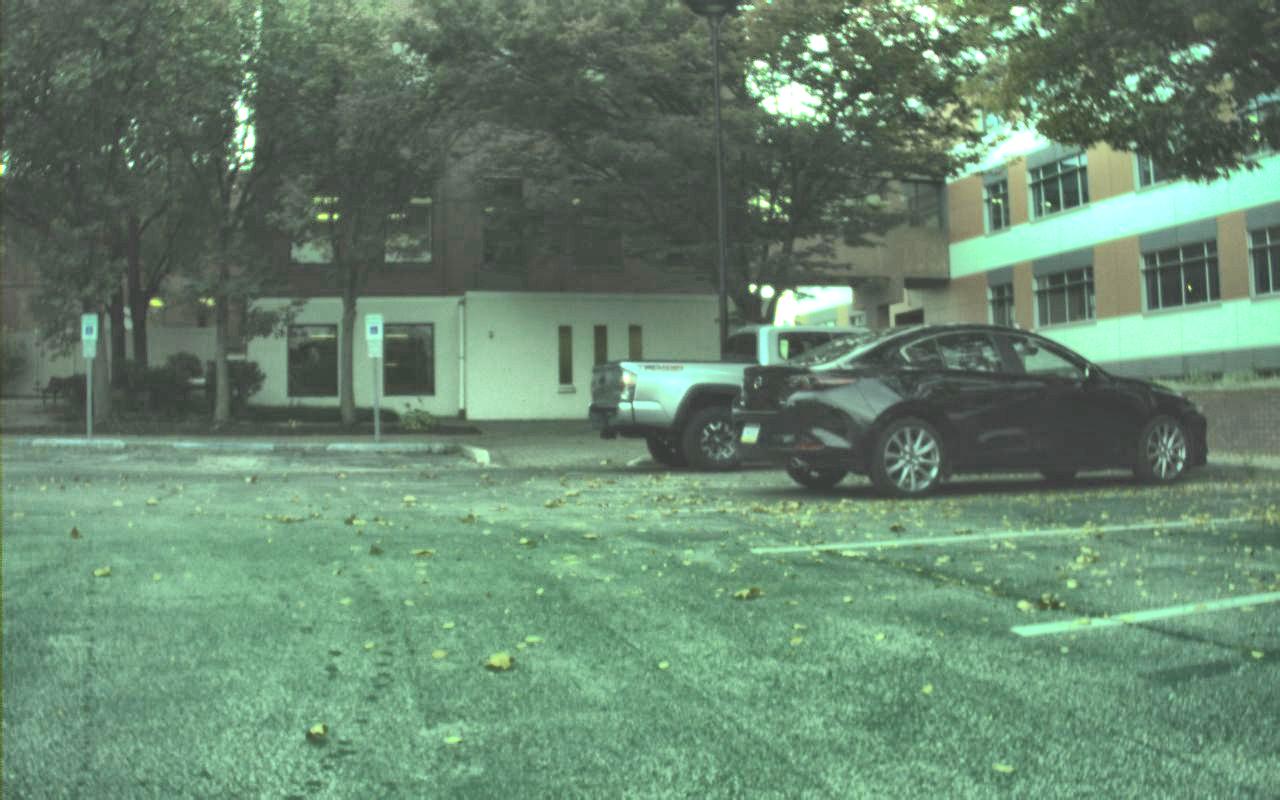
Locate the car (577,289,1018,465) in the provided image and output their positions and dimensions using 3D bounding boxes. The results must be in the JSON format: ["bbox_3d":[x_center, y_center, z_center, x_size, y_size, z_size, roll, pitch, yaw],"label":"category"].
[{"bbox_3d":[1.969,-0.285,15.705,5.190,1.958,2.126,0,1,-14],"label":"car"}]

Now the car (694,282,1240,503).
[{"bbox_3d":[3.015,-0.080,10.764,4.714,1.596,1.965,0,1,-19],"label":"car"}]
